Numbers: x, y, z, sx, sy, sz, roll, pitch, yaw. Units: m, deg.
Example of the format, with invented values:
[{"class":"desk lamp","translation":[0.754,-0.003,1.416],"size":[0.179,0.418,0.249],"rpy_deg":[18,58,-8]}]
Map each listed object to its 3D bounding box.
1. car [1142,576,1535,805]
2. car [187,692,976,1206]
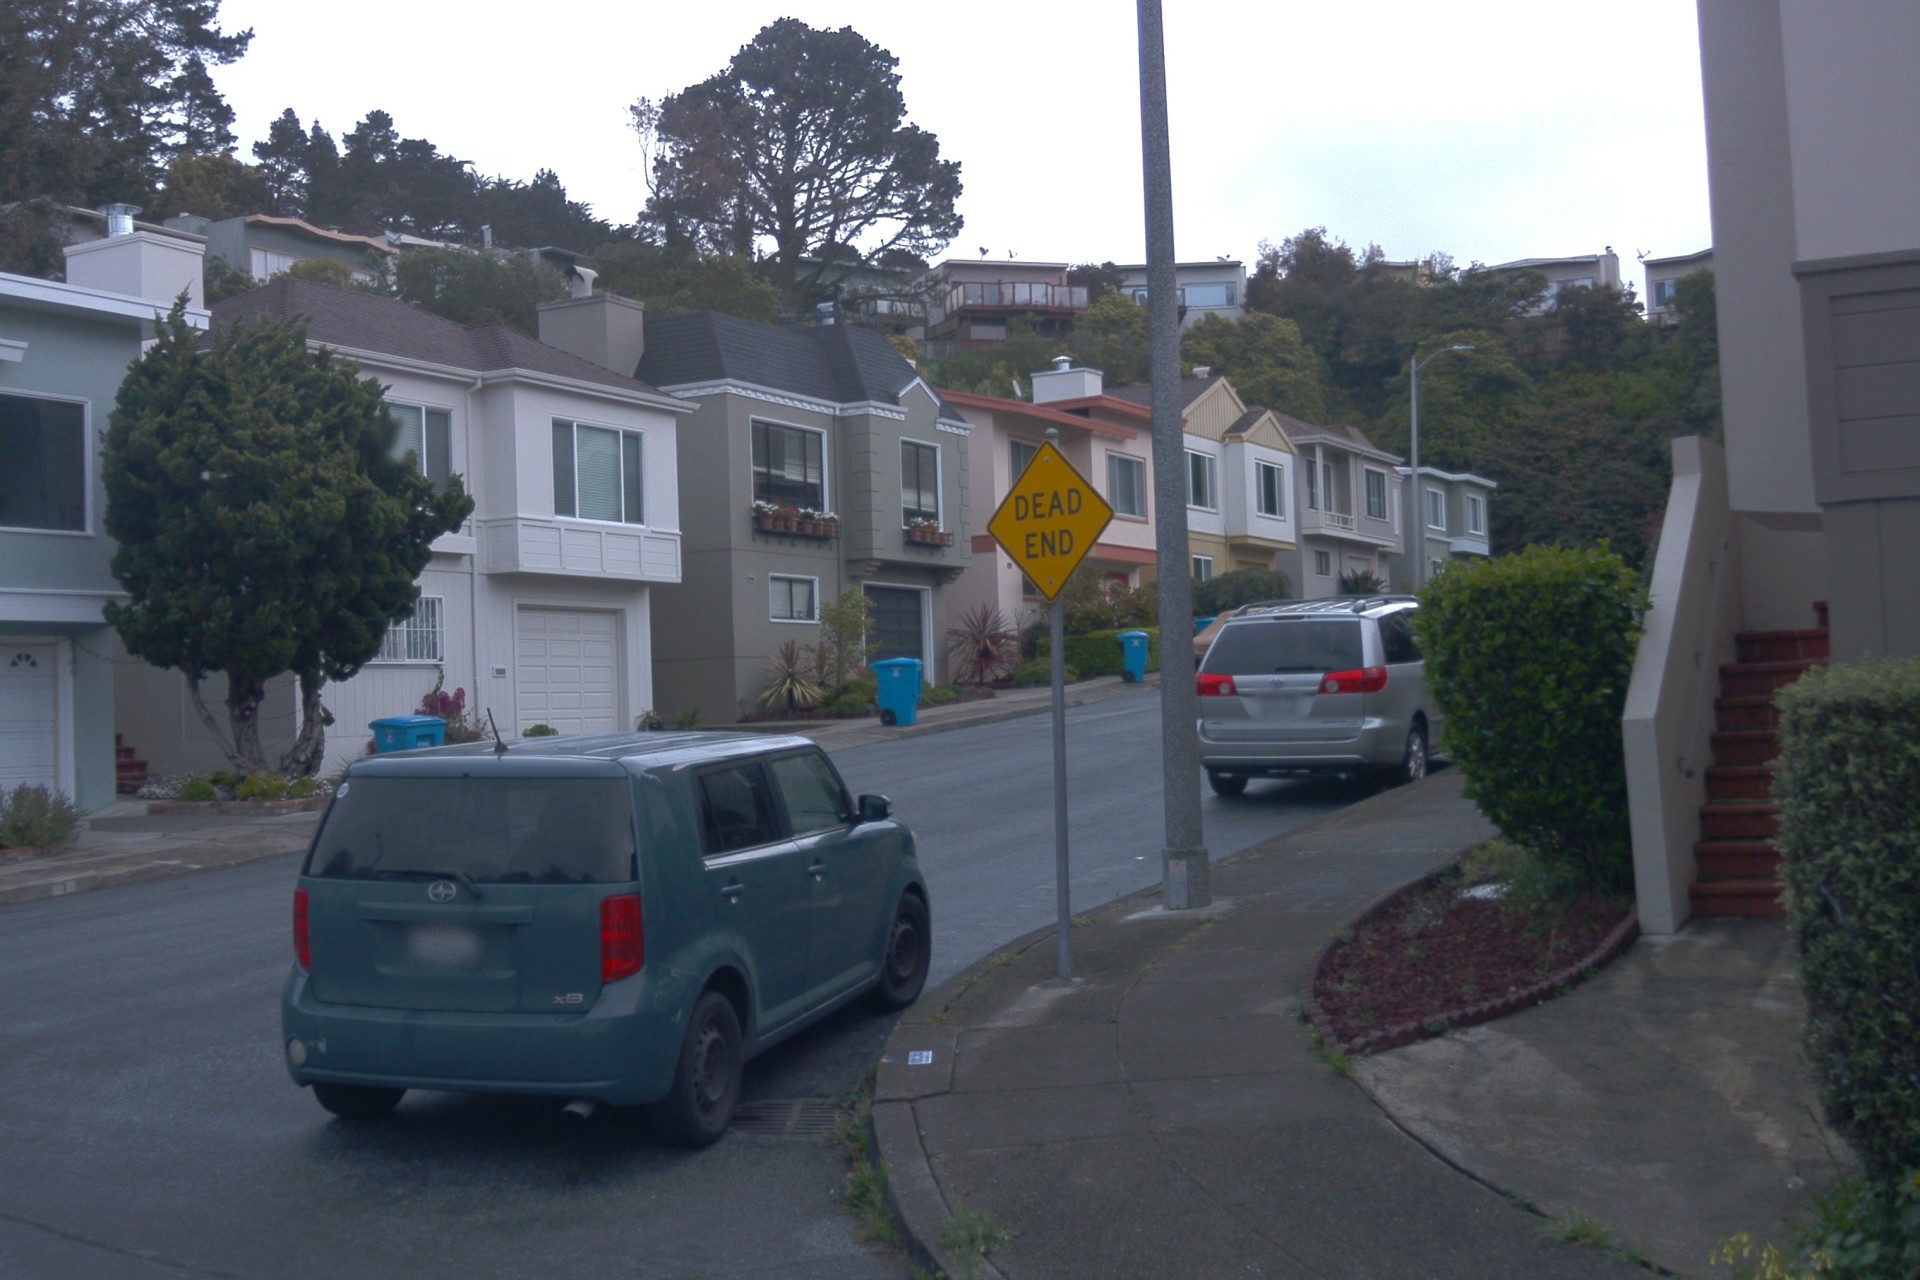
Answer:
[{"class":"car","translation":[3.875,0.442,20.646],"size":[2.415,1.960,4.908],"rpy_deg":[1,0,28]},{"class":"car","translation":[-1.465,1.183,9.962],"size":[2.032,1.770,4.266],"rpy_deg":[1,0,16]}]
